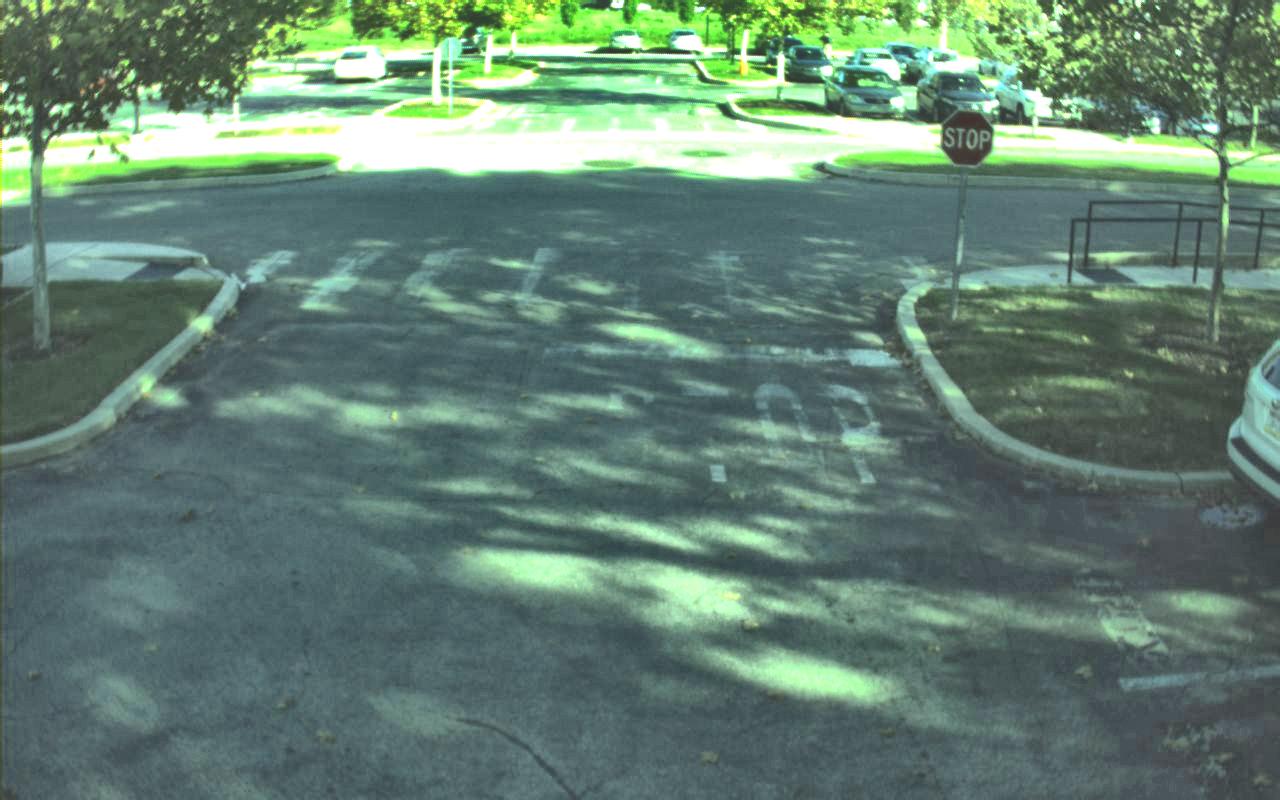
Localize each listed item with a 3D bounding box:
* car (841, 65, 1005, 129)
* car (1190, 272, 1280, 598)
[{"bbox_3d":[8.126,-8.736,35.033,4.625,1.619,1.986,1,16,6],"label":"car"},{"bbox_3d":[6.406,0.106,7.767,4.411,1.638,1.975,-3,16,-5],"label":"car"}]
